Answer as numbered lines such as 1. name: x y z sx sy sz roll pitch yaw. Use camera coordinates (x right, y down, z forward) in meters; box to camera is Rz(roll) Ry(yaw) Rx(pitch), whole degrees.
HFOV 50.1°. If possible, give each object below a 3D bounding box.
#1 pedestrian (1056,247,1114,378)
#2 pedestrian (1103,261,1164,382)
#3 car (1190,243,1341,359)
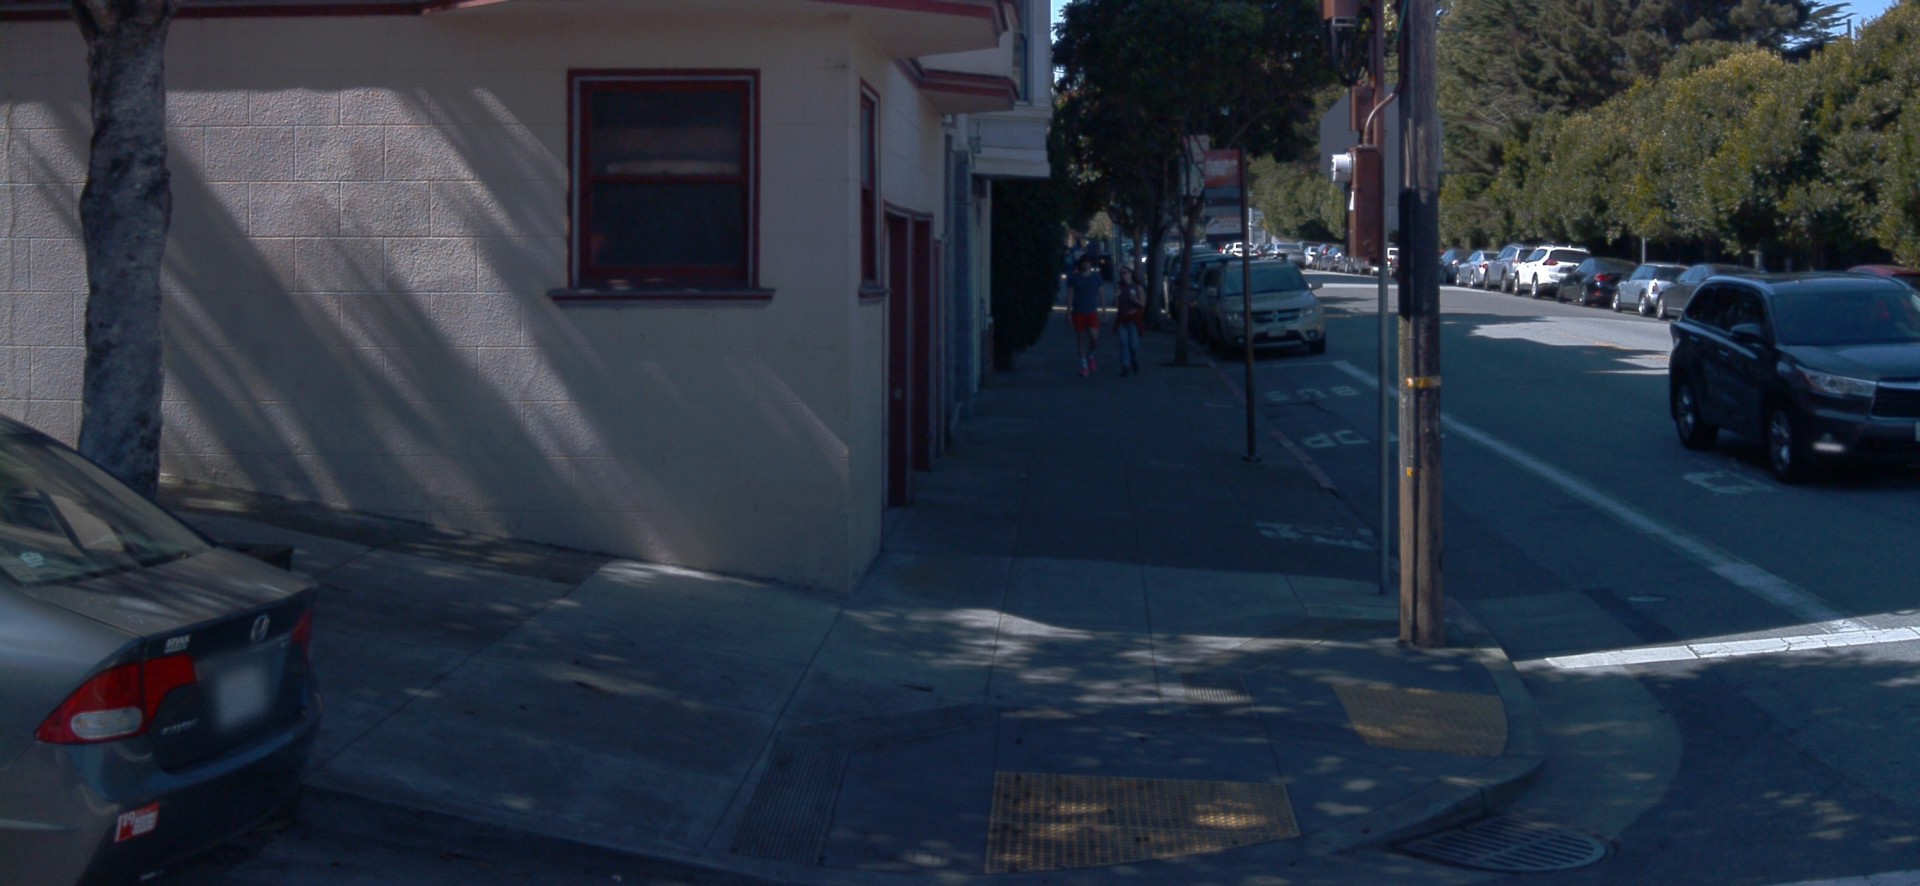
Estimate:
1. pedestrian: 1.882 -1.987 31.041 0.805 1.925 0.886 0 2 -1
2. pedestrian: 2.613 -1.854 31.077 0.863 1.775 0.995 0 3 2
3. car: 5.537 -2.690 37.892 2.224 1.869 5.046 0 6 2
